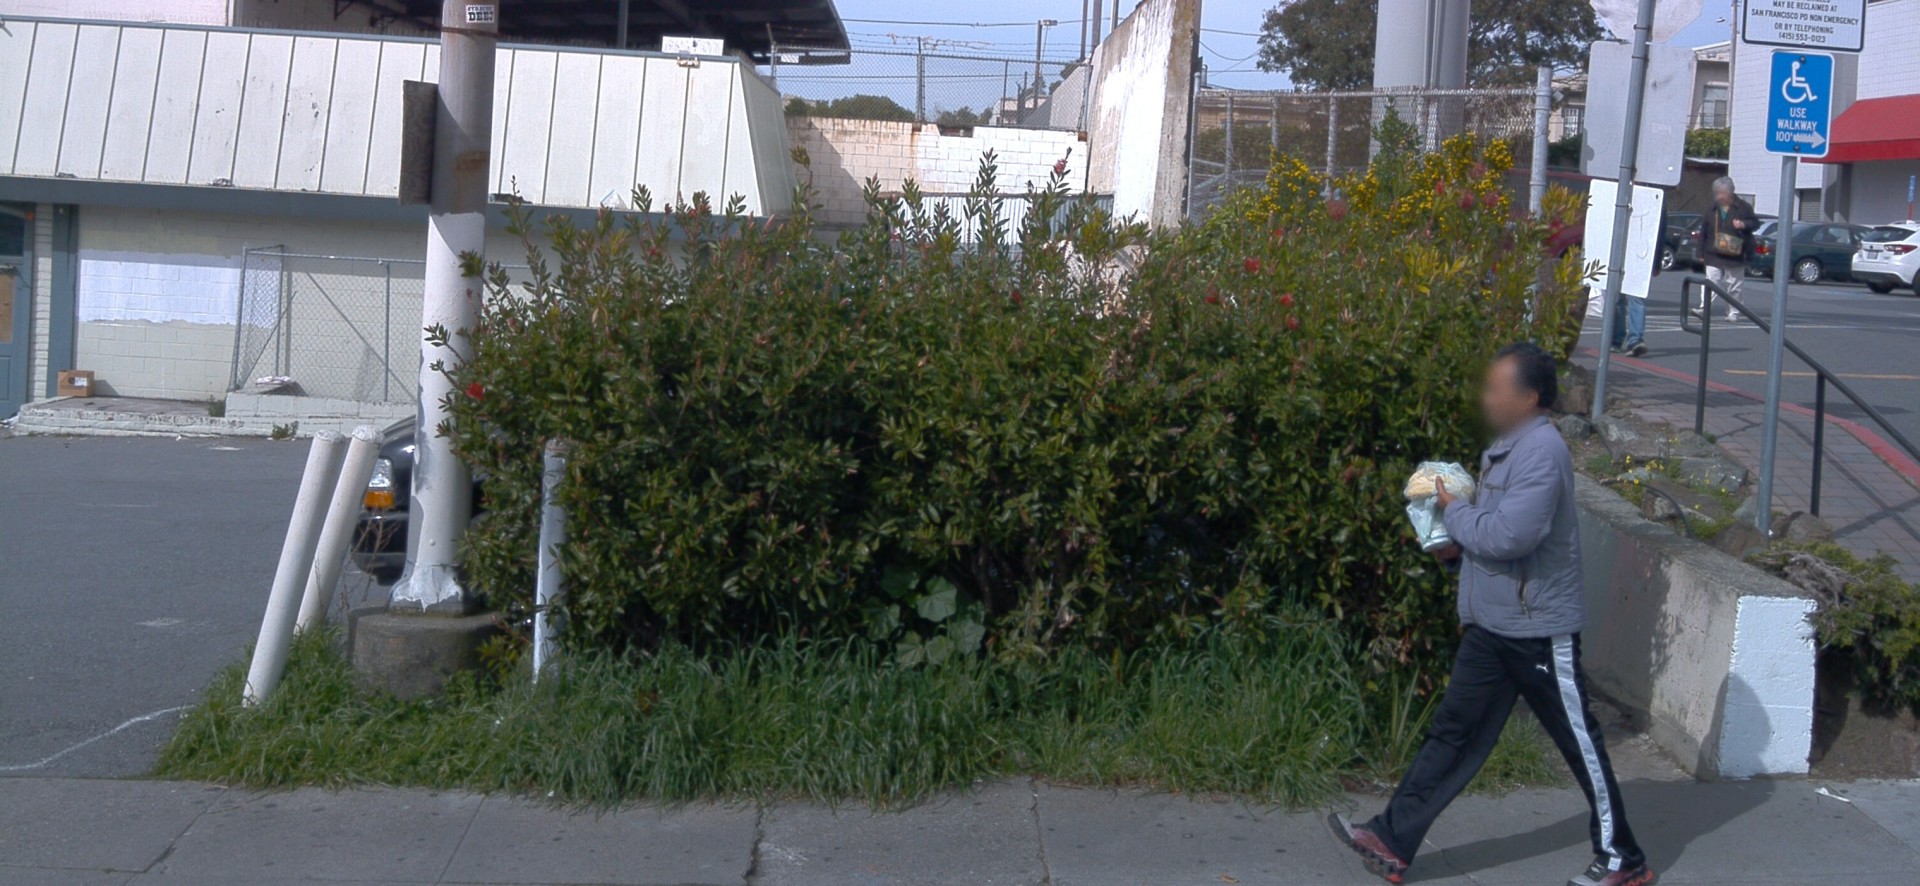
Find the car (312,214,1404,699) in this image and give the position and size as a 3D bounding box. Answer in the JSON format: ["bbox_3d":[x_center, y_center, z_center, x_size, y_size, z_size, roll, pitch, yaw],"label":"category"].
[{"bbox_3d":[-0.464,-0.051,10.089,4.799,2.108,2.006,0,3,-2],"label":"car"}]

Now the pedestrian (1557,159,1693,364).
[{"bbox_3d":[5.580,-1.536,17.388,1.009,1.670,0.952,0,1,13],"label":"pedestrian"}]

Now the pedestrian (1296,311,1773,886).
[{"bbox_3d":[1.687,0.494,6.210,1.076,1.744,0.945,0,1,-11],"label":"pedestrian"}]

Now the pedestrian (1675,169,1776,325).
[{"bbox_3d":[8.509,-2.183,22.941,0.870,1.685,0.833,1,1,36],"label":"pedestrian"}]

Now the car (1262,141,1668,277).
[{"bbox_3d":[6.571,-3.070,27.241,4.792,1.717,2.140,0,3,-3],"label":"car"}]
